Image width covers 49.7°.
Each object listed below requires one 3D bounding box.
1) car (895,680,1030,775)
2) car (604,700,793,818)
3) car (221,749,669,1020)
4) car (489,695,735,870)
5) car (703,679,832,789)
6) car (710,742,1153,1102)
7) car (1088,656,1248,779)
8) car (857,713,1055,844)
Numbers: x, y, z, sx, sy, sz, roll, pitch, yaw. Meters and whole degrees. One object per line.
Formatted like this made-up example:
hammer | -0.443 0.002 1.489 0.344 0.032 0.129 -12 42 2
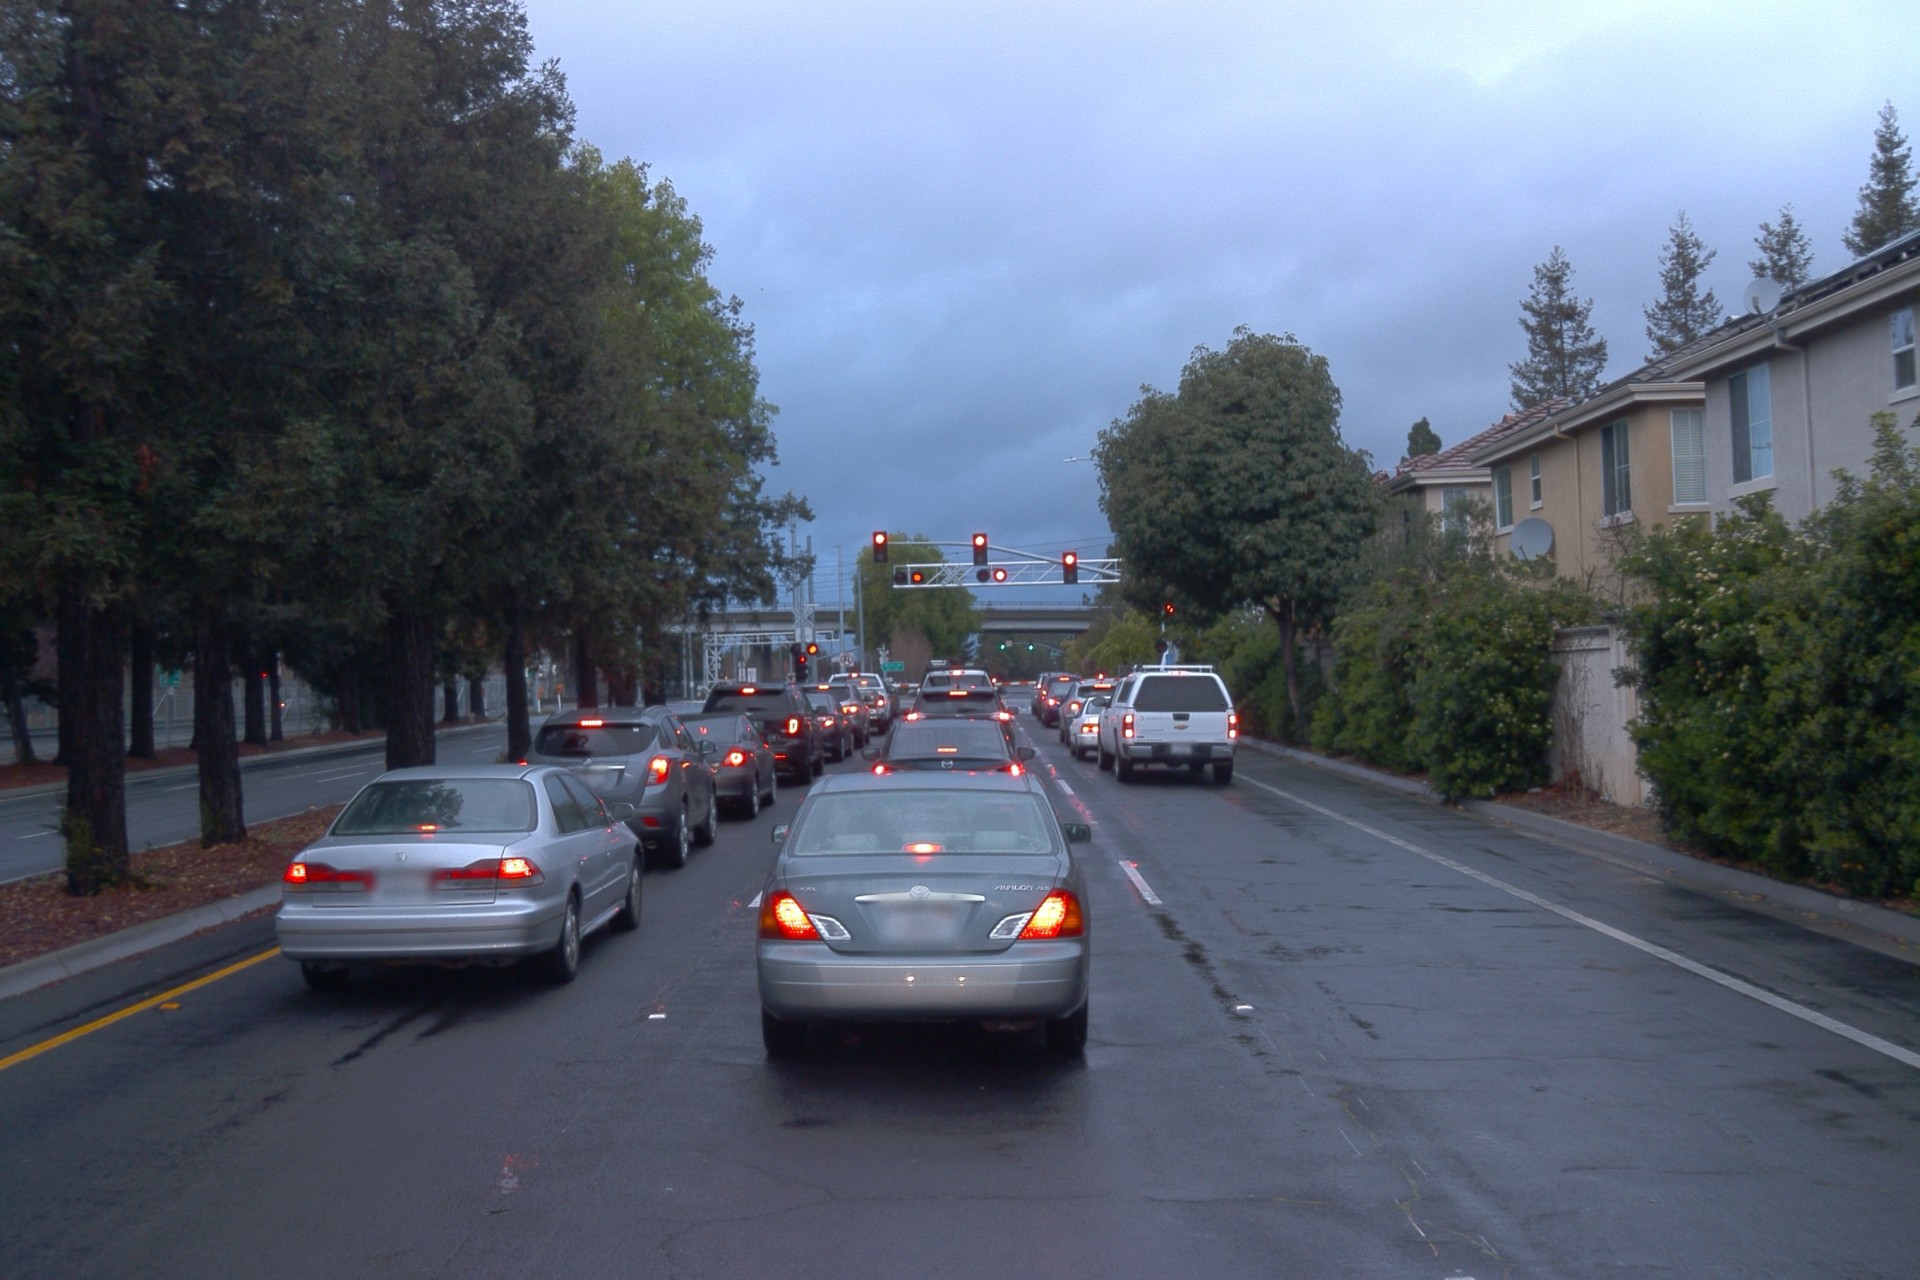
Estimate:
car | 0.005 1.494 36.680 2.231 1.560 4.585 0 -1 -1
car | -3.583 1.612 29.220 2.021 1.460 4.541 0 -1 1
car | -3.463 1.609 14.921 2.021 1.480 4.541 0 -1 1
car | -3.685 1.469 22.659 1.936 1.700 4.080 0 -1 1
car | -3.341 1.613 36.851 2.021 1.810 4.543 0 -1 -2
car | -0.166 1.455 12.201 2.105 1.550 4.676 0 -1 -1
car | 3.642 1.336 37.519 2.216 2.050 5.937 0 -1 -1
car | -0.101 1.529 24.028 2.081 1.290 4.552 0 -1 -1
